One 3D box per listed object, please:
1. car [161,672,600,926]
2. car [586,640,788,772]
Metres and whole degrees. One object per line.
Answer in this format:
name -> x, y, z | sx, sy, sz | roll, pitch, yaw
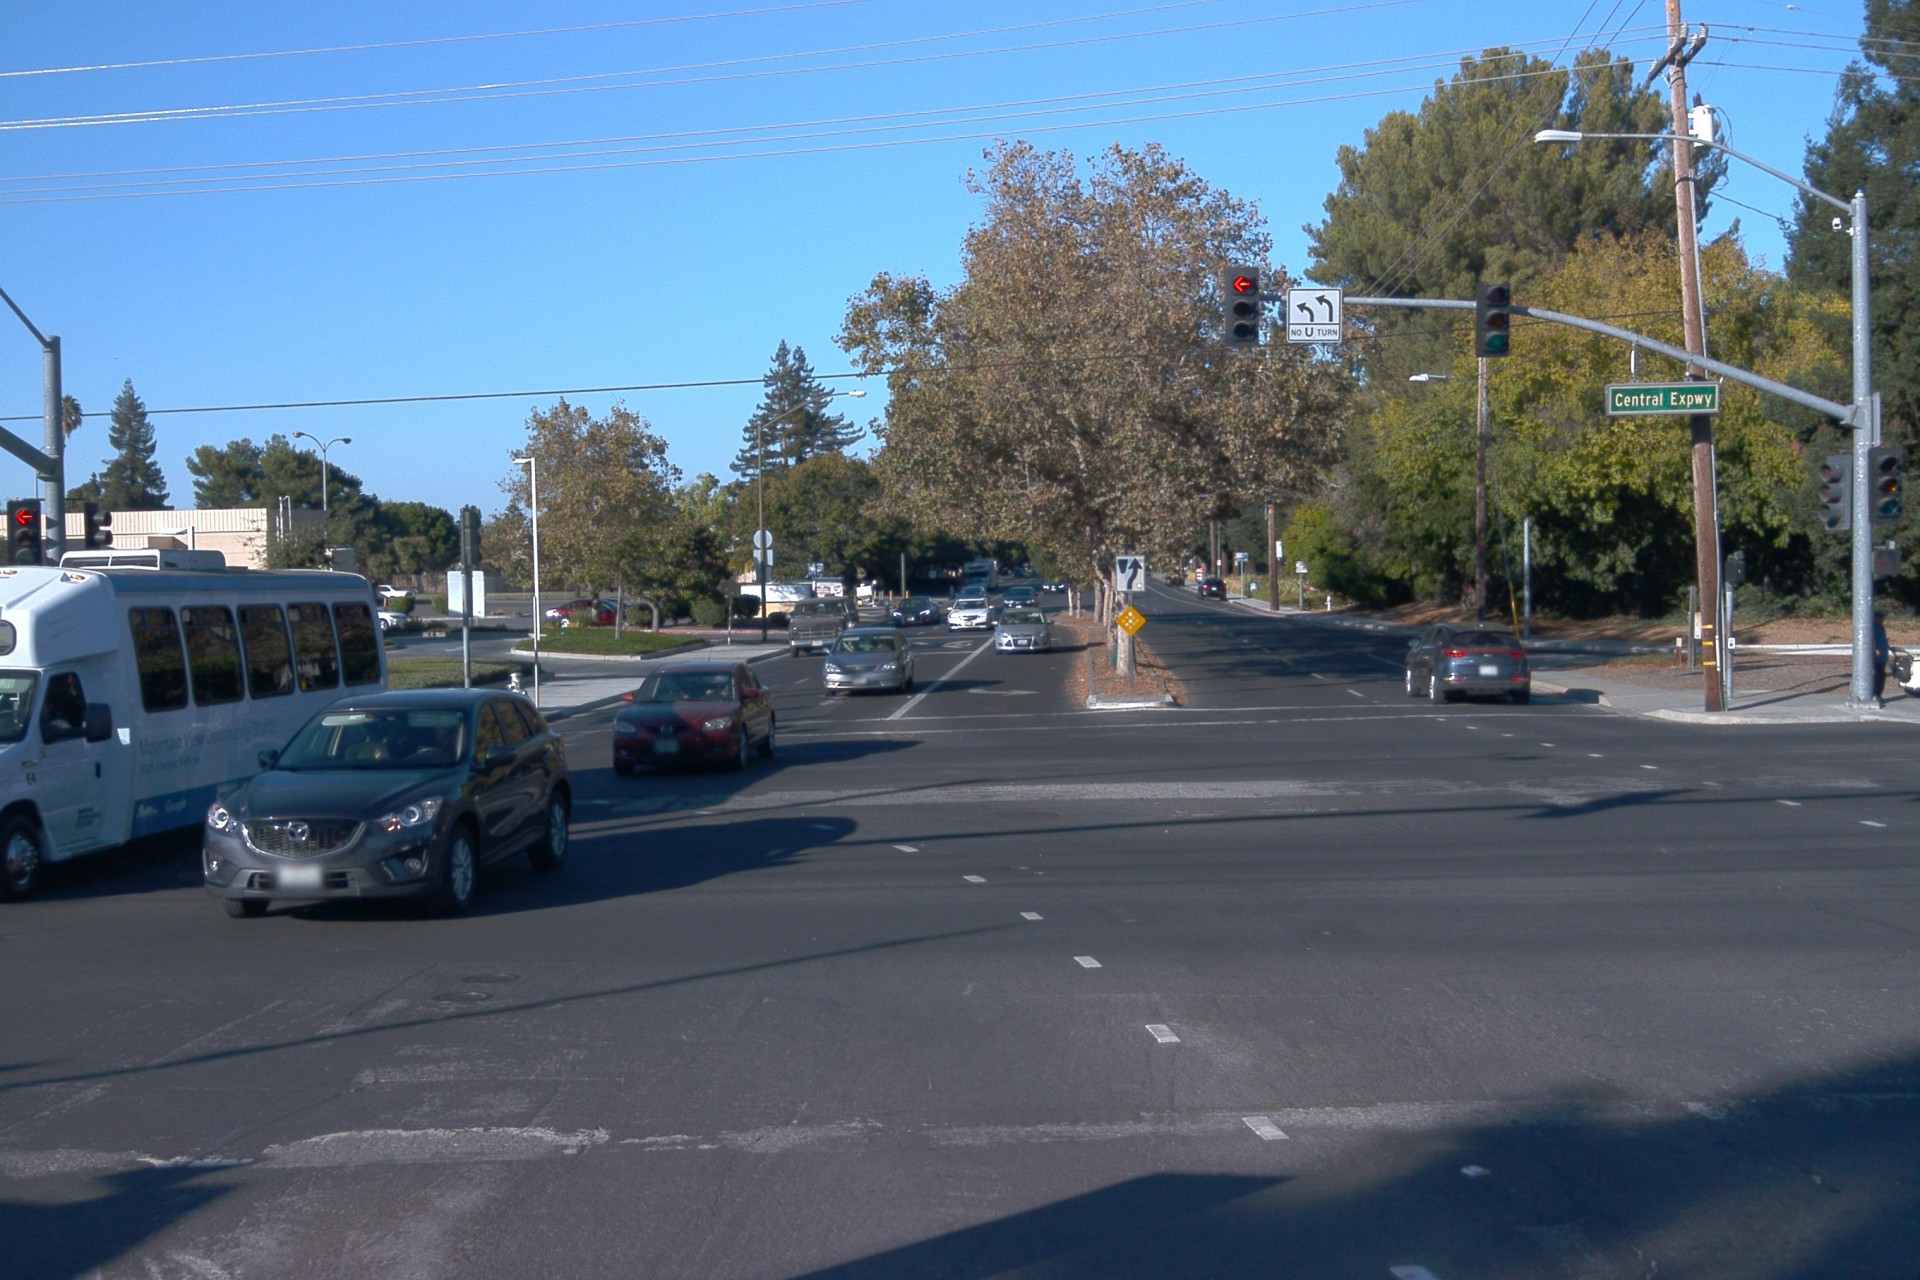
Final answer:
car -> -4.588, 1.192, 17.248 | 2.121, 1.760, 4.358 | -1, 0, 4
car -> -3.778, 0.870, 29.508 | 1.998, 1.730, 4.331 | -1, 0, 4
